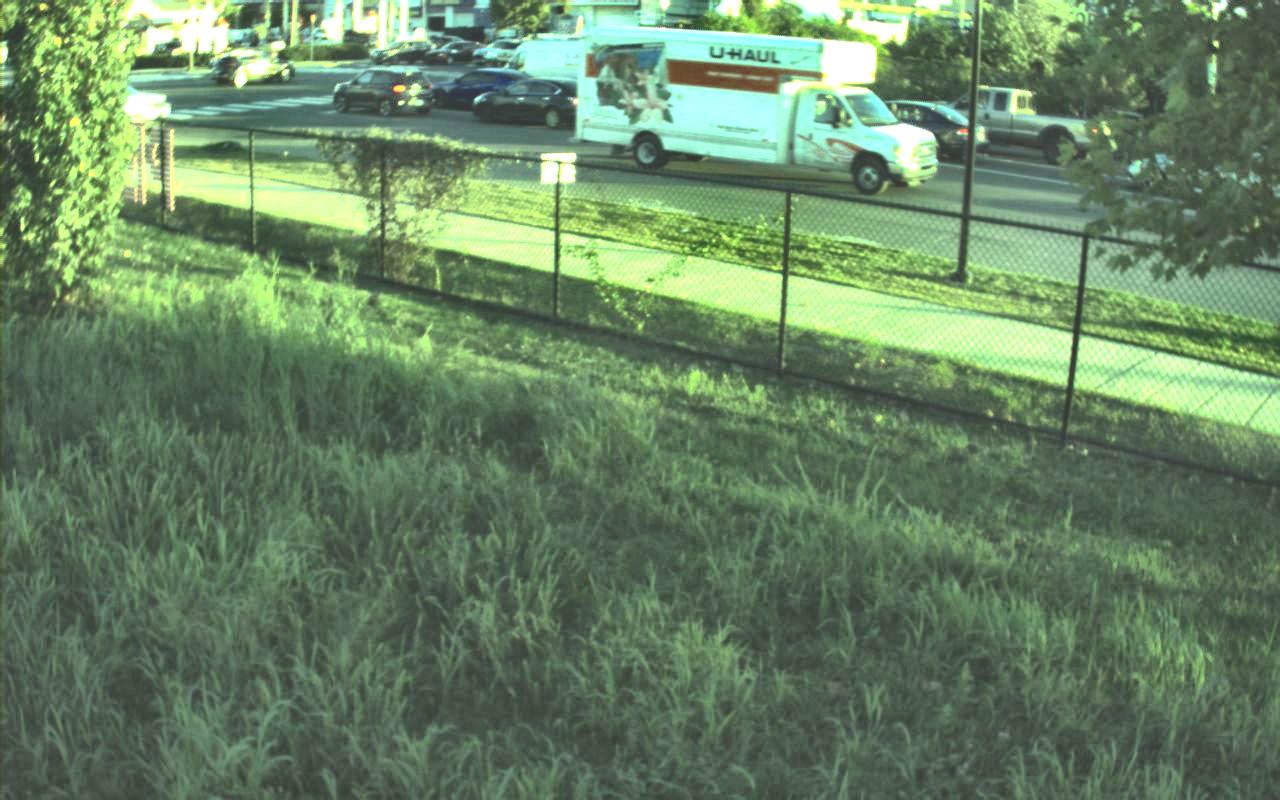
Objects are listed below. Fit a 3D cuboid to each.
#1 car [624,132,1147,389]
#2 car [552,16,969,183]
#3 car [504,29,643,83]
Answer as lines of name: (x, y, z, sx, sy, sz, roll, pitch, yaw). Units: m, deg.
car: (2.284, -1.523, 11.808, 4.693, 1.681, 2.067, 13, 21, 40)
car: (2.496, -6.611, 26.451, 8.669, 3.205, 2.918, 9, 18, 32)
car: (-2.477, -12.421, 44.658, 4.845, 1.863, 2.088, 11, 20, 36)
